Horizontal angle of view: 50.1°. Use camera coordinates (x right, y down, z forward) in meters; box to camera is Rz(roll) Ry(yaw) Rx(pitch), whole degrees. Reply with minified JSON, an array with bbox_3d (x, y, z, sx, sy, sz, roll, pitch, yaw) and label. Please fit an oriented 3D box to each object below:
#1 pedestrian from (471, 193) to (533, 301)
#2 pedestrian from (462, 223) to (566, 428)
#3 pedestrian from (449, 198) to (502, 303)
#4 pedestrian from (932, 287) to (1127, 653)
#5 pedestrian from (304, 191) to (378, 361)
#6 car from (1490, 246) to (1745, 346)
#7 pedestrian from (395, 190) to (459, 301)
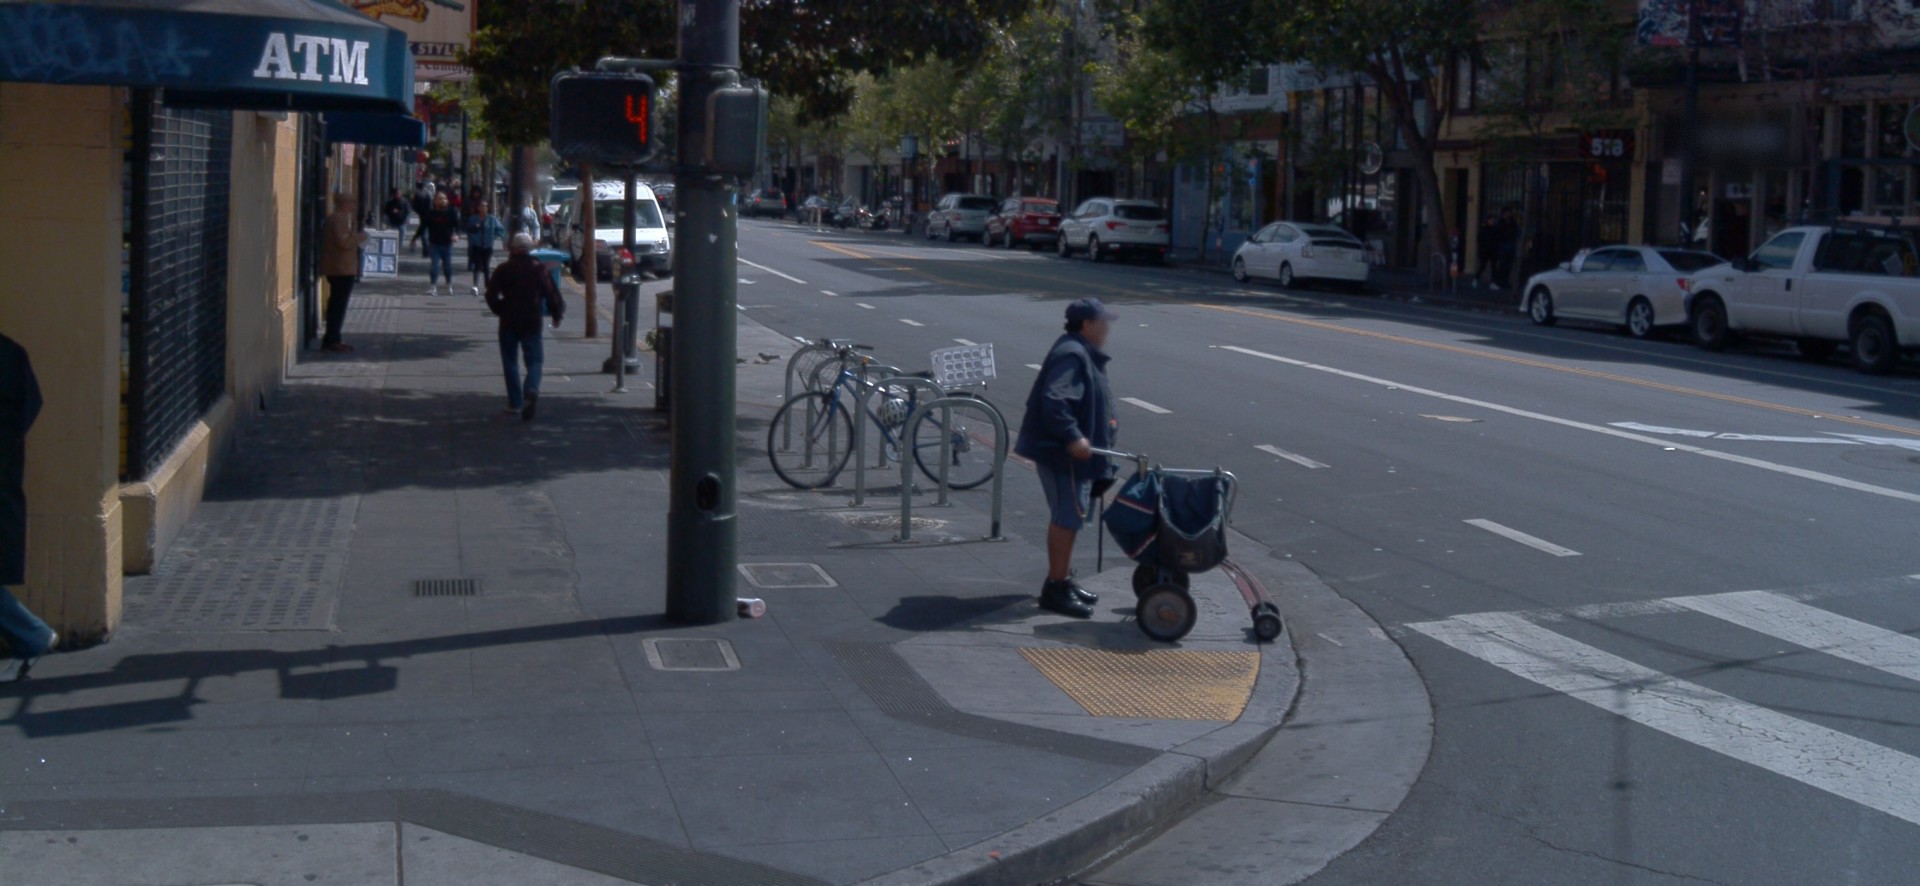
[{"bbox_3d":[-7.787,-3.342,34.971,0.944,1.809,0.835,0,1,-6],"label":"pedestrian"},{"bbox_3d":[-3.911,-1.052,17.960,0.799,1.729,1.082,0,2,-17],"label":"pedestrian"},{"bbox_3d":[-8.044,-3.199,34.141,0.817,1.709,0.781,0,1,-10],"label":"pedestrian"},{"bbox_3d":[0.377,0.093,10.711,0.821,1.789,0.873,0,1,16],"label":"pedestrian"},{"bbox_3d":[-7.041,-1.905,23.341,0.779,1.889,0.821,0,1,-18],"label":"pedestrian"},{"bbox_3d":[10.431,-2.415,32.984,1.633,1.454,4.483,-1,5,-17],"label":"car"},{"bbox_3d":[-8.720,-3.234,33.661,0.954,1.789,0.976,0,1,-12],"label":"pedestrian"}]
